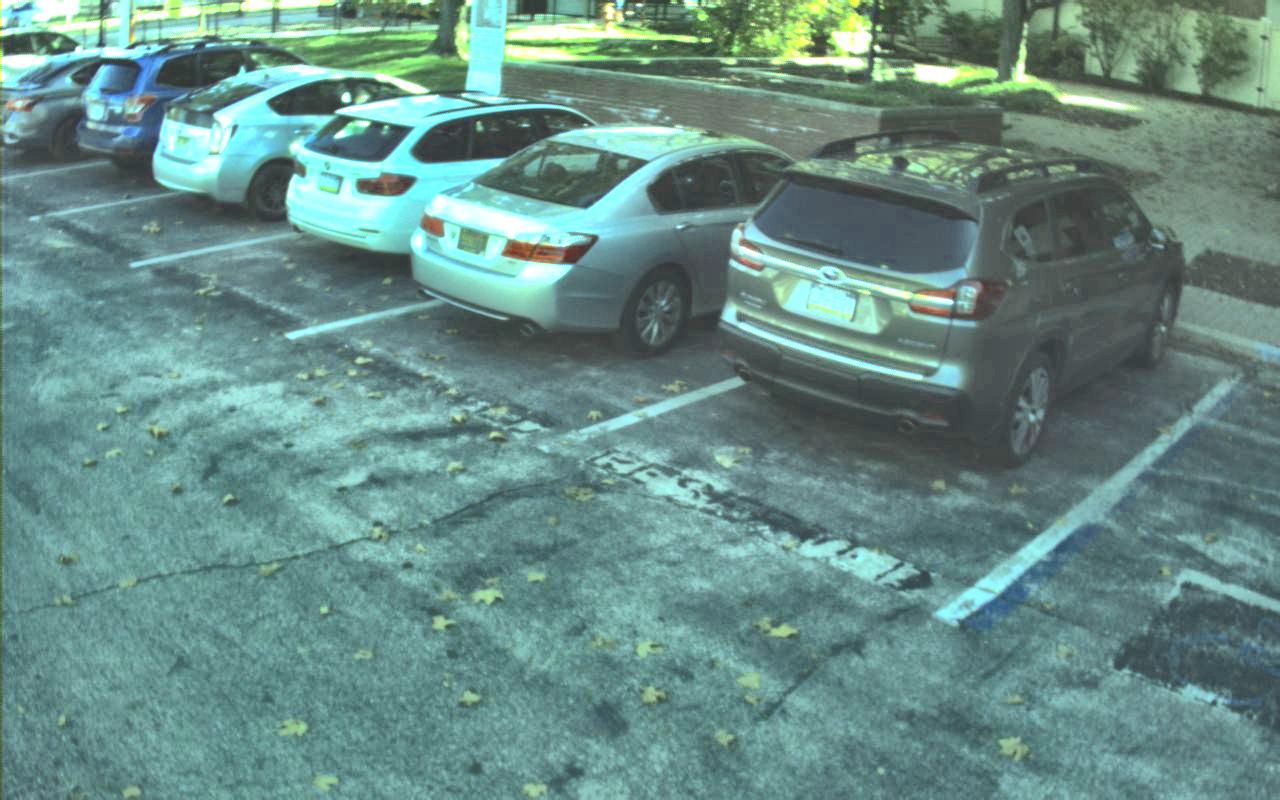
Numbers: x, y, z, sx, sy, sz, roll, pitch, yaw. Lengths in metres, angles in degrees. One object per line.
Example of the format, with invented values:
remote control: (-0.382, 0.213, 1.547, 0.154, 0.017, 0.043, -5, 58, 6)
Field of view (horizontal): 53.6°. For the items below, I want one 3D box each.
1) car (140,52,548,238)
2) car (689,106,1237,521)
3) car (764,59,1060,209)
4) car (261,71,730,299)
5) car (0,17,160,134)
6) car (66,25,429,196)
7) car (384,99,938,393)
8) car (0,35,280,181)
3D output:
car: (-3.263, -2.945, 13.474, 4.303, 1.550, 1.876, -17, 22, -42)
car: (2.629, -0.978, 8.434, 2.042, 1.813, 4.819, 12, 21, 39)
car: (3.727, -3.591, 15.880, 1.997, 1.582, 4.528, 13, 22, 40)
car: (-1.235, -2.231, 11.828, 1.912, 1.580, 4.373, 13, 22, 40)
car: (-11.418, -6.074, 20.794, 1.960, 1.648, 4.562, 12, 21, 38)
car: (-5.043, -3.782, 15.187, 1.957, 1.688, 4.478, 13, 22, 41)
car: (0.402, -1.469, 9.920, 1.919, 1.545, 4.489, 14, 22, 41)
car: (-7.555, -4.267, 16.600, 1.930, 1.552, 4.467, 13, 21, 39)
